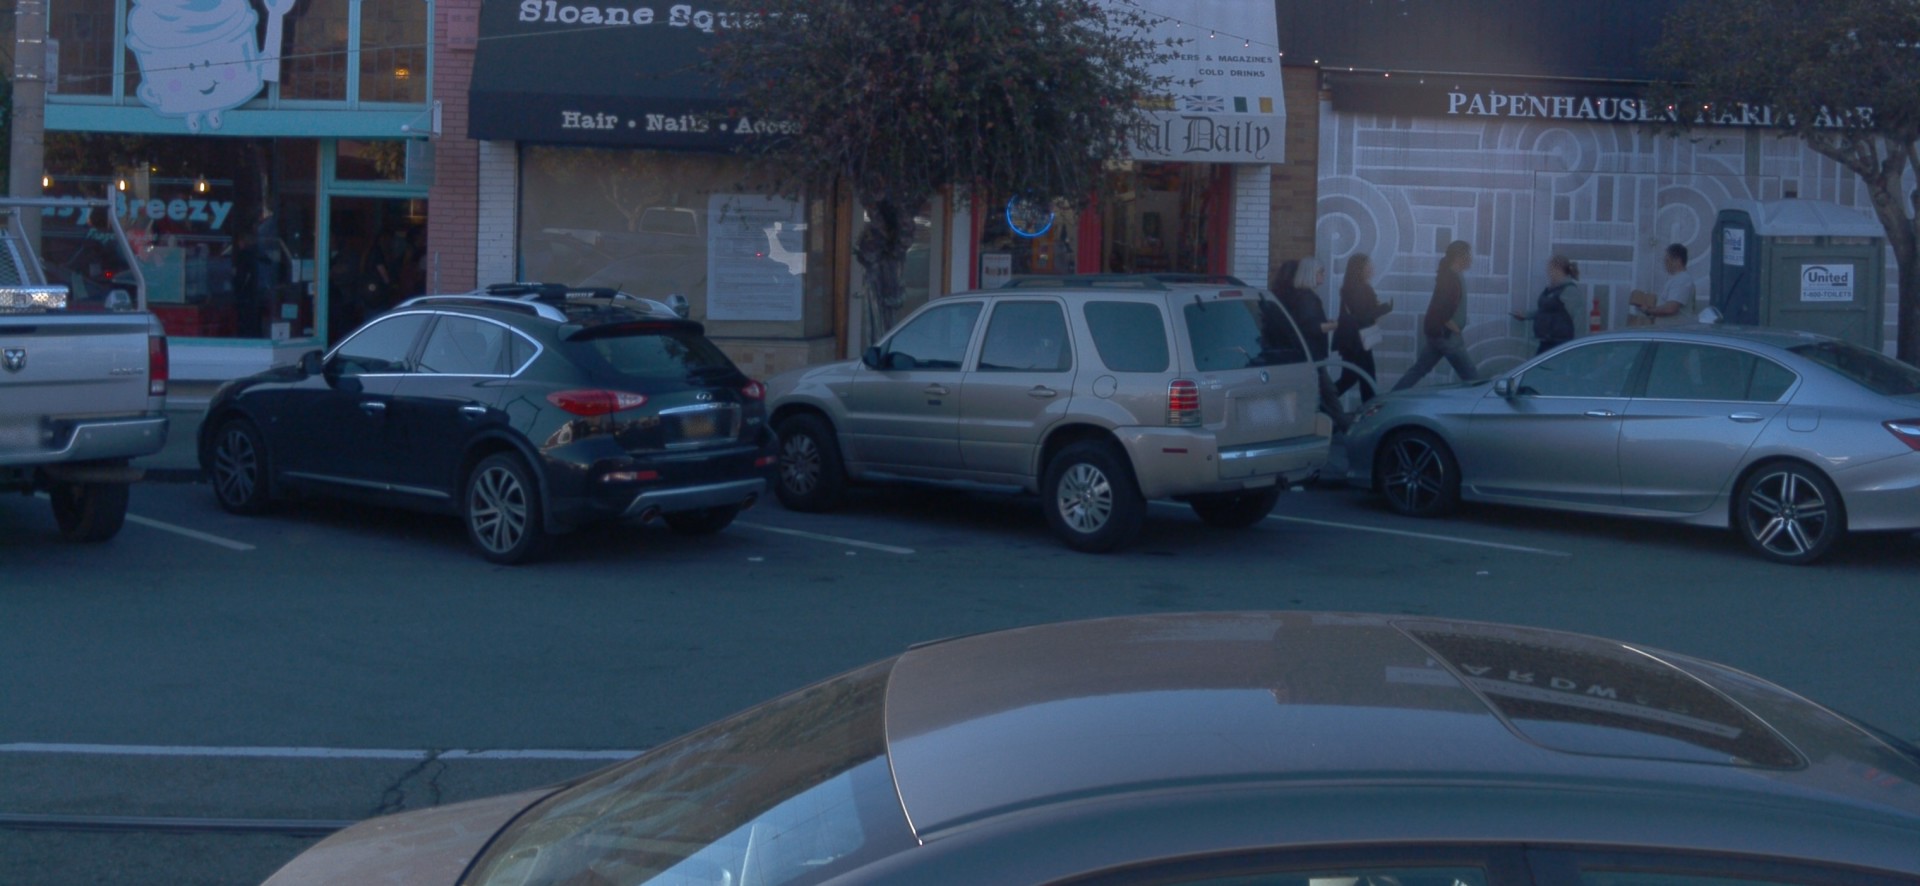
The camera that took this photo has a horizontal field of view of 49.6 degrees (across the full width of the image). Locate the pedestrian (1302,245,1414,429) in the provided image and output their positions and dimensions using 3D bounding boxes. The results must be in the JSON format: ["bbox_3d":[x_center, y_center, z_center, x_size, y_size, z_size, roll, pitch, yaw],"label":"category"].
[{"bbox_3d":[3.651,-0.990,19.093,0.834,1.637,0.719,1,2,-5],"label":"pedestrian"}]

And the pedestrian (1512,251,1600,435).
[{"bbox_3d":[5.710,-0.974,19.932,0.711,1.707,0.695,1,2,9],"label":"pedestrian"}]

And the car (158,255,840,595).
[{"bbox_3d":[-3.218,-0.302,14.037,4.523,1.793,2.116,5,6,39],"label":"car"}]

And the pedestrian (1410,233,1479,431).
[{"bbox_3d":[4.535,-1.064,19.410,0.558,1.786,0.881,1,2,15],"label":"pedestrian"}]

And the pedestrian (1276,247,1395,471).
[{"bbox_3d":[3.236,-0.746,17.969,0.771,1.866,0.910,1,2,-6],"label":"pedestrian"}]

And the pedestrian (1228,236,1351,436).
[{"bbox_3d":[2.947,-0.973,18.634,0.899,1.737,0.801,1,2,-6],"label":"pedestrian"}]

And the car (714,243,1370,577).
[{"bbox_3d":[0.472,-0.406,14.617,4.242,1.893,2.079,6,6,42],"label":"car"}]

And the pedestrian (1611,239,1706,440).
[{"bbox_3d":[6.564,-0.999,19.554,0.727,1.816,0.927,1,2,13],"label":"pedestrian"}]
